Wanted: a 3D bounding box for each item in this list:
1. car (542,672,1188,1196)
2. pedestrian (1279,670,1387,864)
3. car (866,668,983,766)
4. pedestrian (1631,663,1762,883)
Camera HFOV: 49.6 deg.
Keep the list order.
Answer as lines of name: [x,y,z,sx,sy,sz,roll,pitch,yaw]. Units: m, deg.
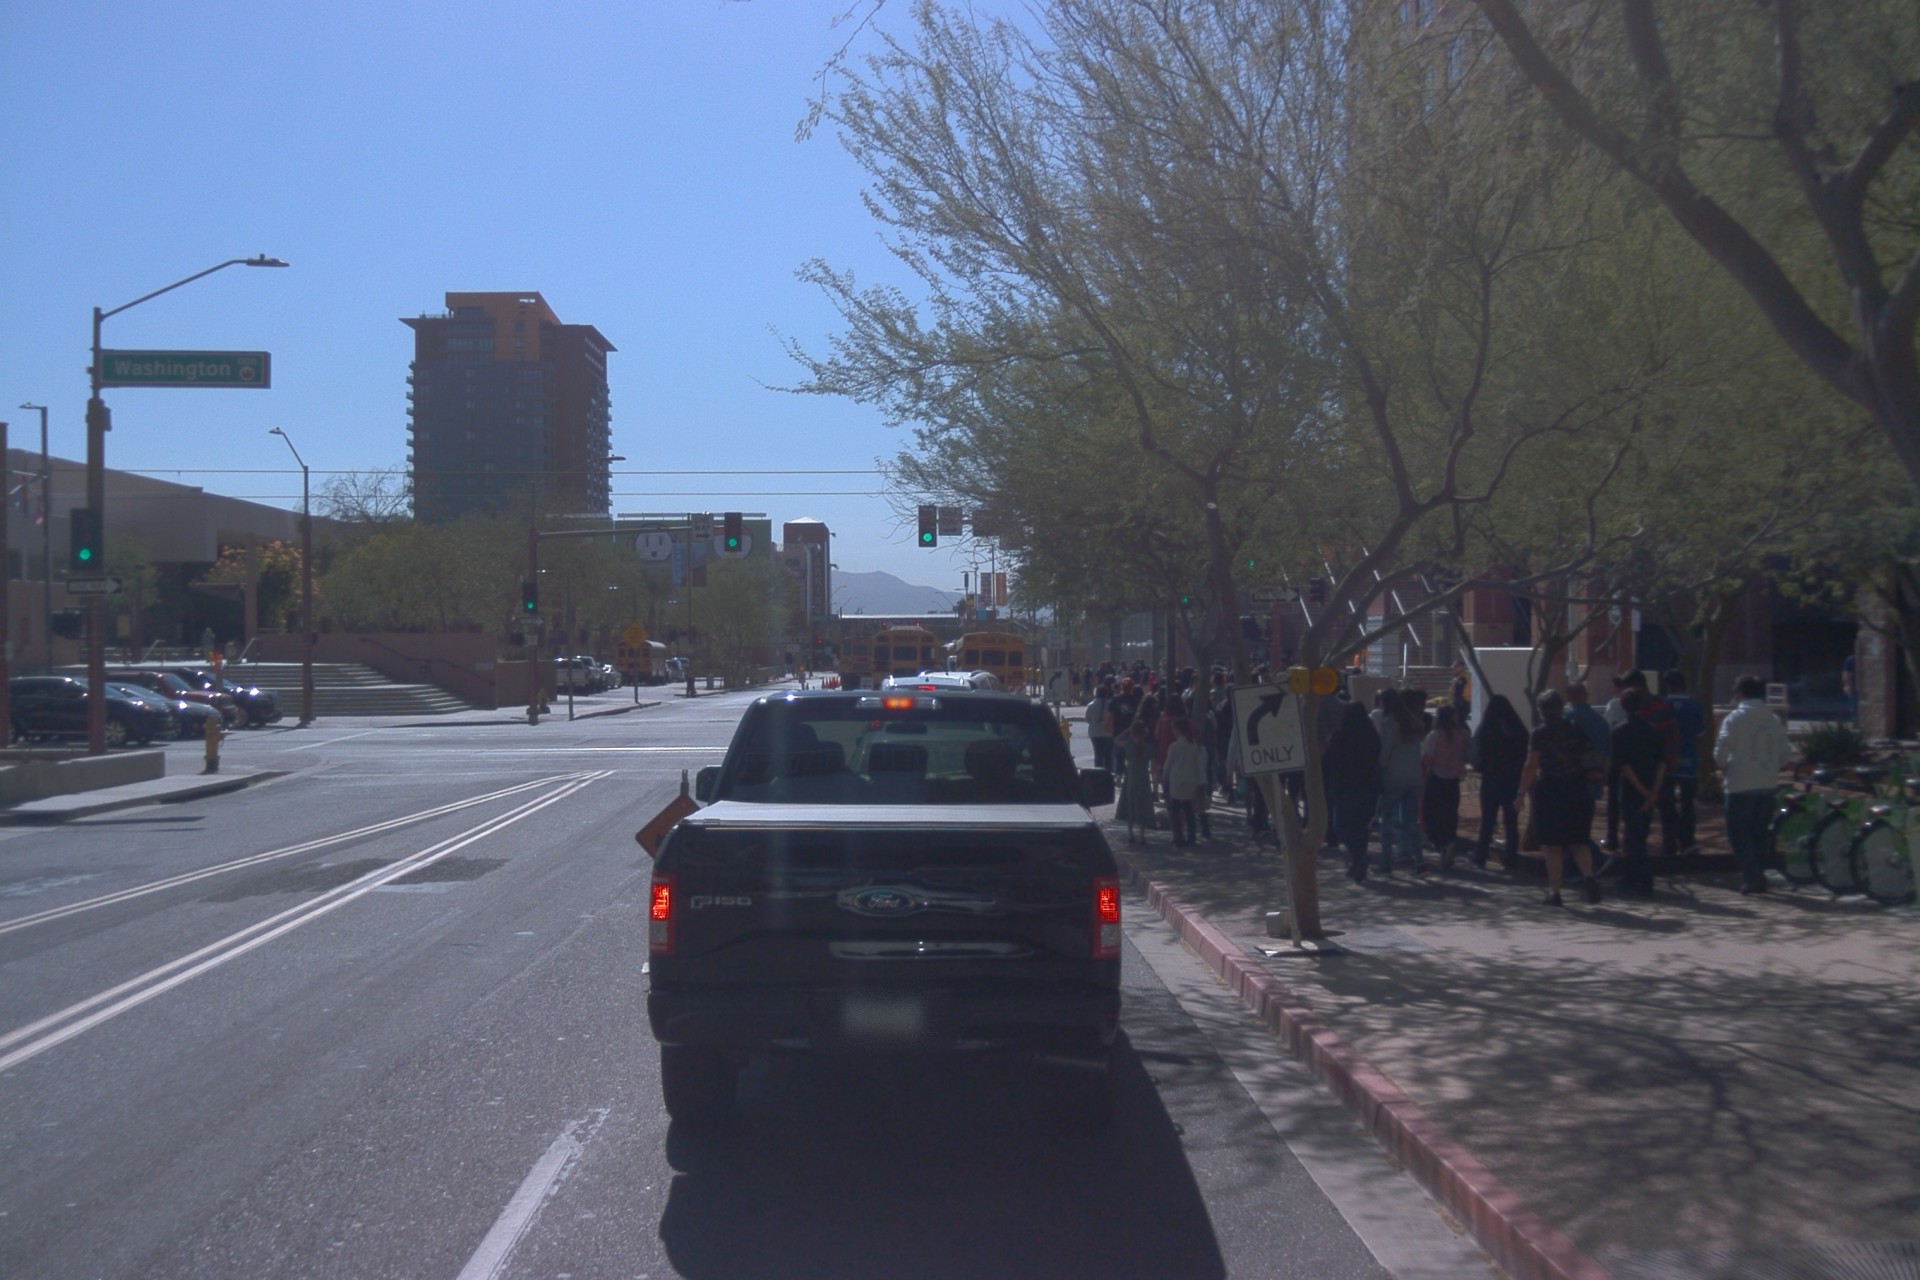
car: [-0.352,1.176,10.696,2.486,1.950,5.329,0,0,0]
pedestrian: [3.740,1.256,20.925,0.959,1.900,0.880,0,0,4]
car: [-0.510,1.179,33.381,1.753,1.430,4.270,0,0,1]
pedestrian: [6.437,1.142,18.211,0.835,1.880,0.792,0,0,-2]
